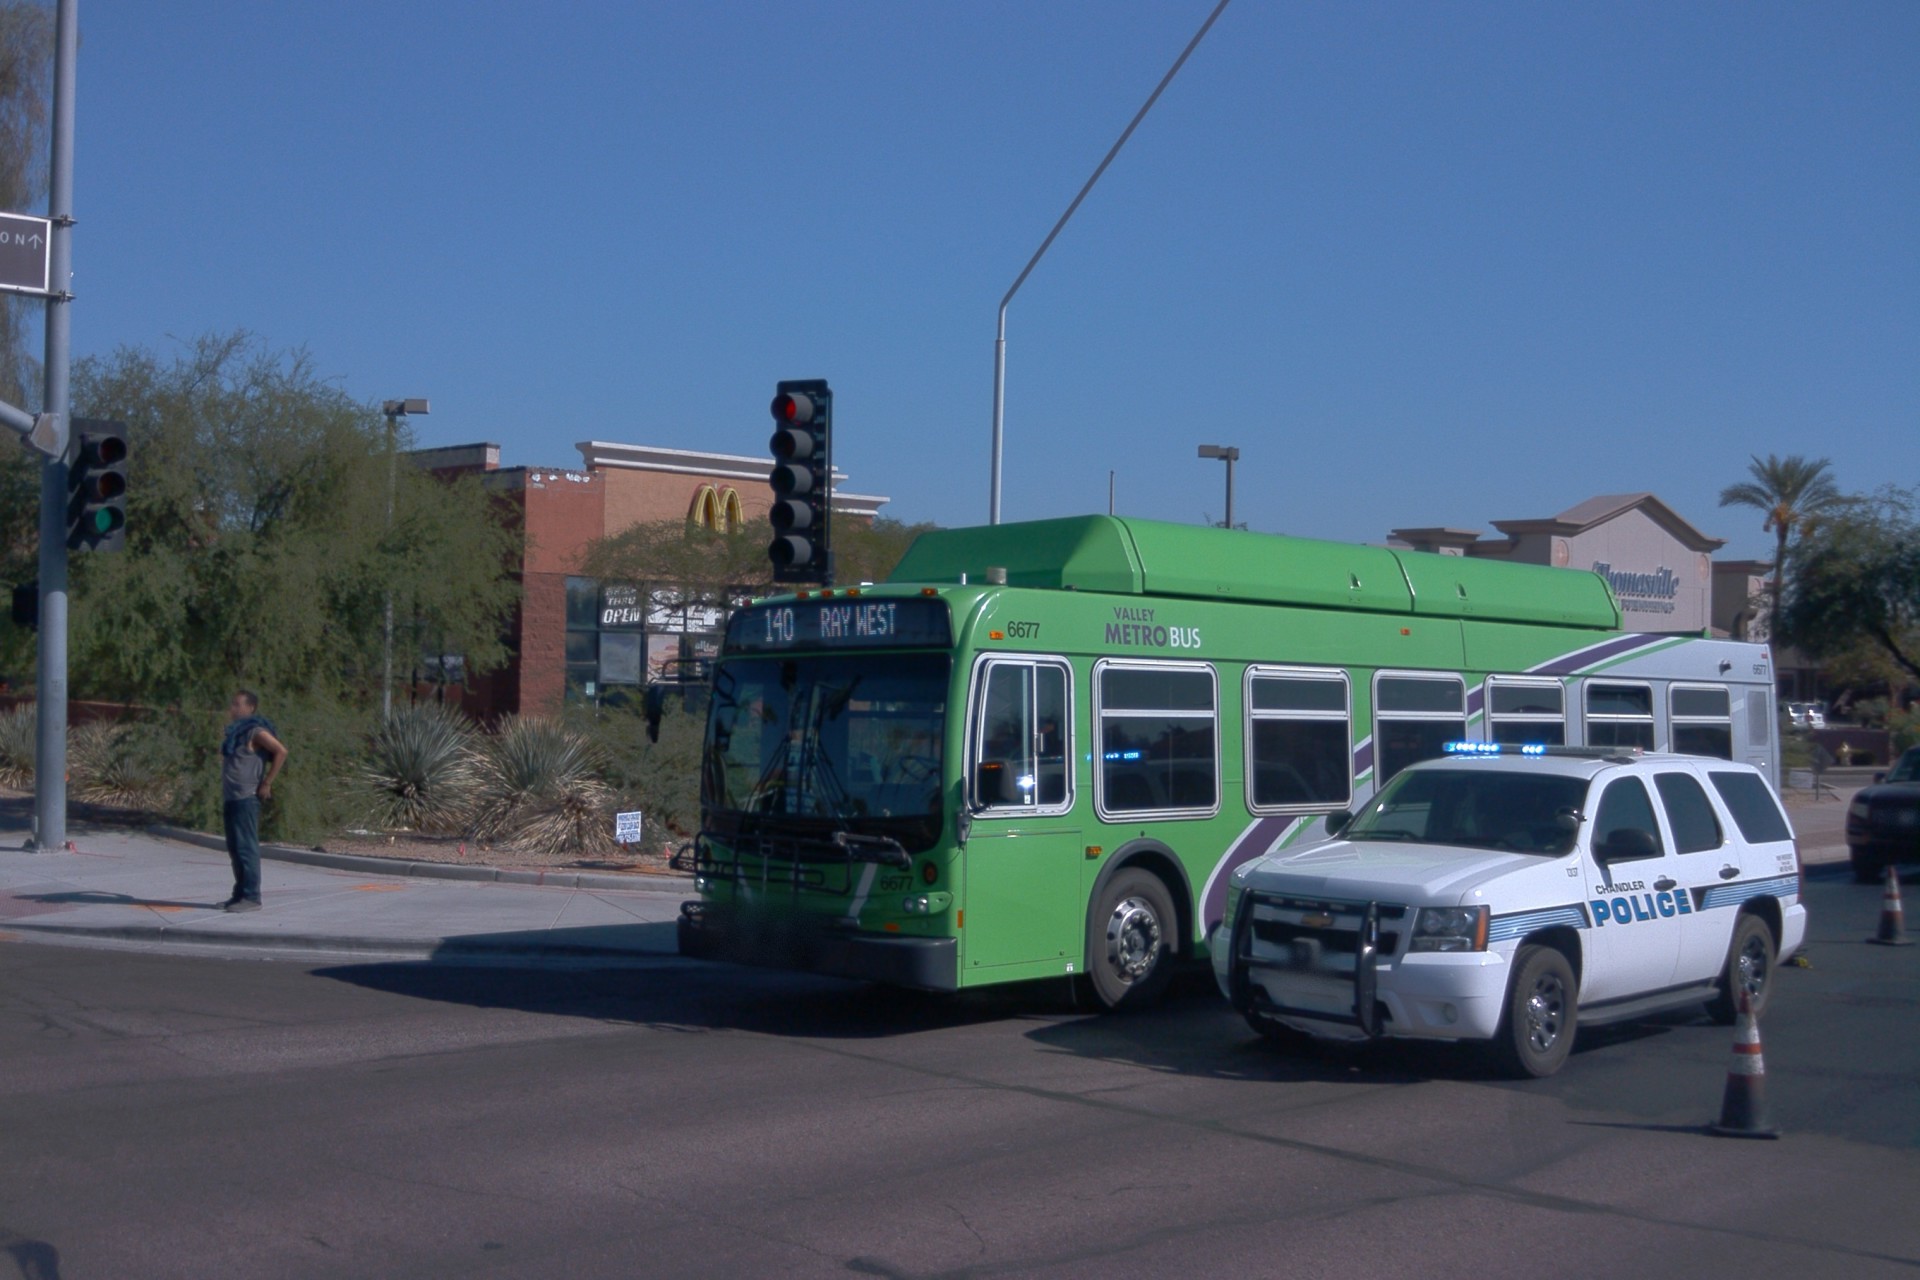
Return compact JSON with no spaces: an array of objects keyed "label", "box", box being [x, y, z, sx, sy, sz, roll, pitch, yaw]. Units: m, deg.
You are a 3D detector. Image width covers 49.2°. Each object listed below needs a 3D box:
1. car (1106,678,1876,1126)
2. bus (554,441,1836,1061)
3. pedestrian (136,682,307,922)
[{"label":"car","box":[3.626,1.439,13.543,2.366,2.260,5.372,1,-1,45]},{"label":"bus","box":[2.999,0.804,17.787,12.815,3.570,3.409,2,-1,-45]},{"label":"pedestrian","box":[-6.348,1.359,18.034,1.026,1.960,0.952,2,-1,-44]}]
